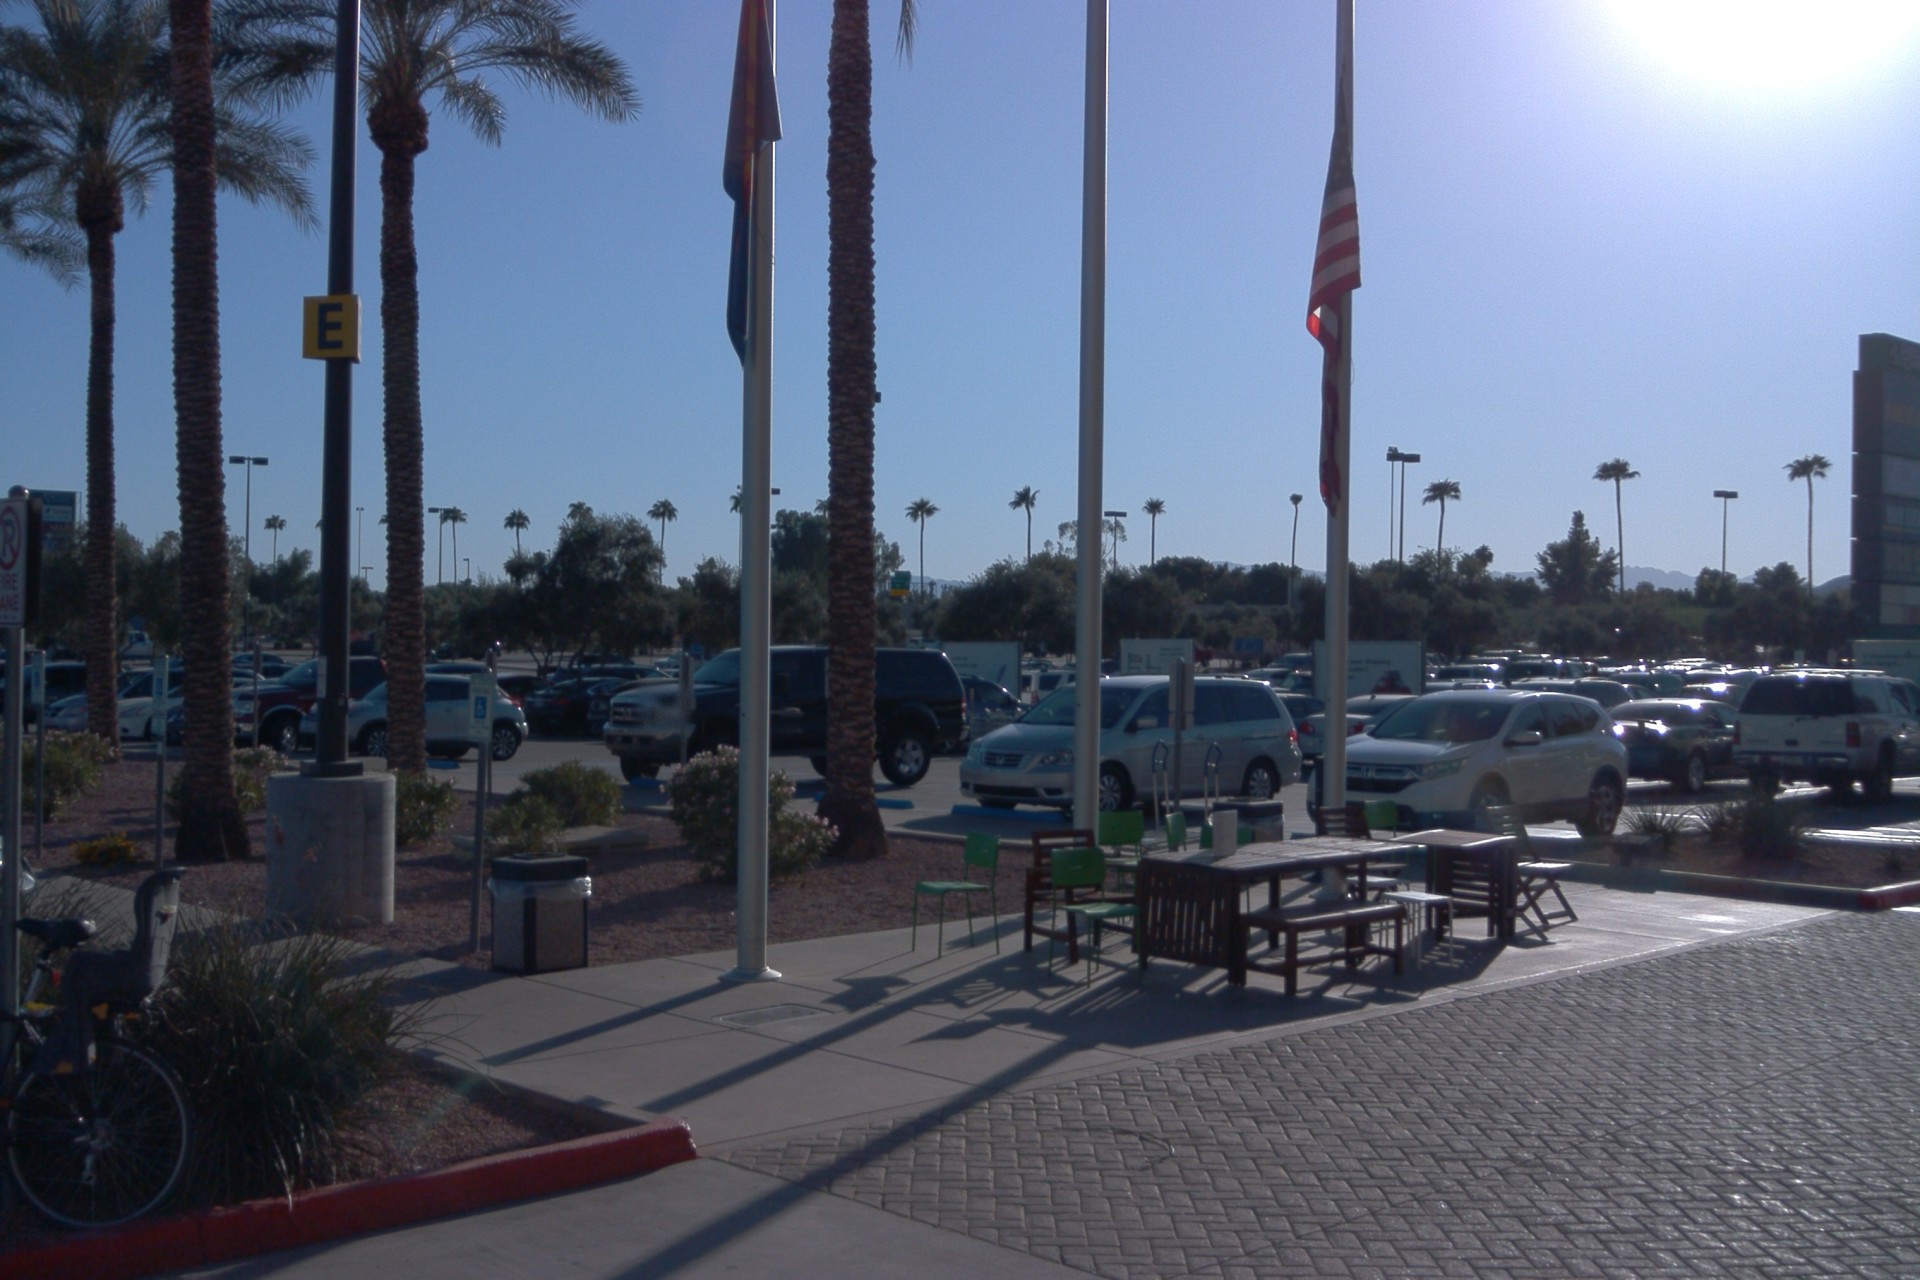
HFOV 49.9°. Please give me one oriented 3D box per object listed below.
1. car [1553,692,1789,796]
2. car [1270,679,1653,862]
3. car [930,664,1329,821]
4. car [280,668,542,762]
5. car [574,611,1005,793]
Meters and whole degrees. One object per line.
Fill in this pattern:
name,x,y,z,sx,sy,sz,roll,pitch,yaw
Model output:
car,11.614,1.631,33.580,4.346,1.490,1.909,1,0,-45
car,5.562,1.317,22.511,2.159,1.710,4.564,0,0,41
car,2.280,1.217,26.487,2.246,1.780,5.286,0,0,44
car,-9.801,1.297,37.064,1.967,1.550,4.106,0,0,44
car,-2.472,0.862,31.321,6.160,2.490,2.672,1,0,-43
